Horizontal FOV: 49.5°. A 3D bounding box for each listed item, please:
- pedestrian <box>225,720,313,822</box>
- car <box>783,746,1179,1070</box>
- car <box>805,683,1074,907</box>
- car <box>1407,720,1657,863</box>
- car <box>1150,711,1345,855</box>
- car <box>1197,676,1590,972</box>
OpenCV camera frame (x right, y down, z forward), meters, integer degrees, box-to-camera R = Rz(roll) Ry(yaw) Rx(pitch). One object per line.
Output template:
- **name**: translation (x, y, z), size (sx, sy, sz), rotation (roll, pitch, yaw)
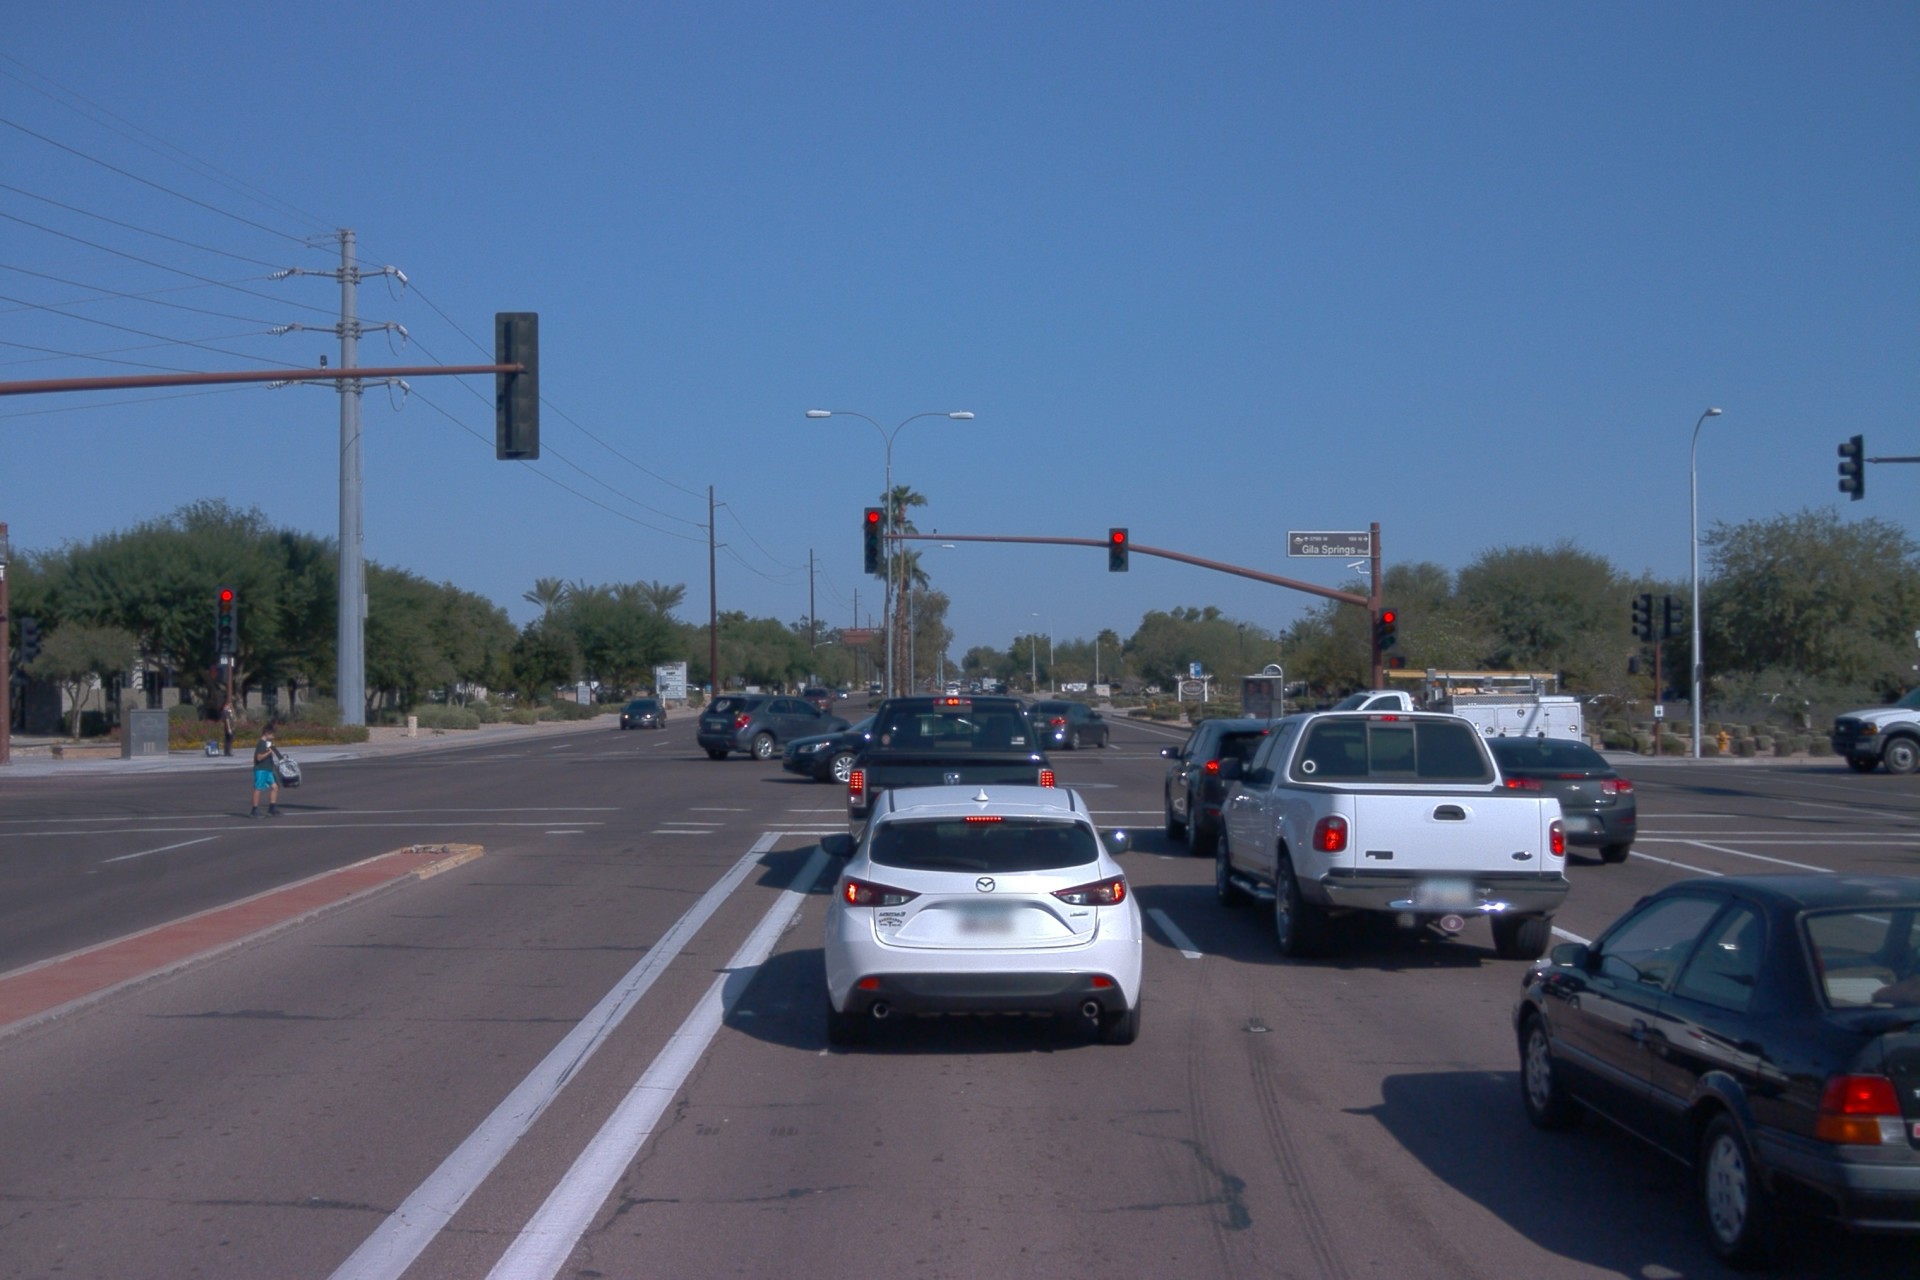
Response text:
- **pedestrian**: translation (-10.534, 1.994, 31.765), size (1.087, 1.530, 0.743), rotation (0, -1, 0)
- **car**: translation (0.124, 1.540, 13.361), size (2.099, 1.600, 4.628), rotation (0, -1, 0)
- **car**: translation (-0.108, 1.506, 21.847), size (2.500, 2.080, 5.001), rotation (0, -1, 2)
- **car**: translation (6.850, 1.774, 25.434), size (1.828, 1.540, 4.447), rotation (0, -1, 0)
- **car**: translation (3.511, 1.721, 26.110), size (1.789, 1.630, 4.213), rotation (0, -1, -1)
- **car**: translation (3.341, 1.359, 17.297), size (2.073, 2.070, 5.518), rotation (0, -1, 0)
